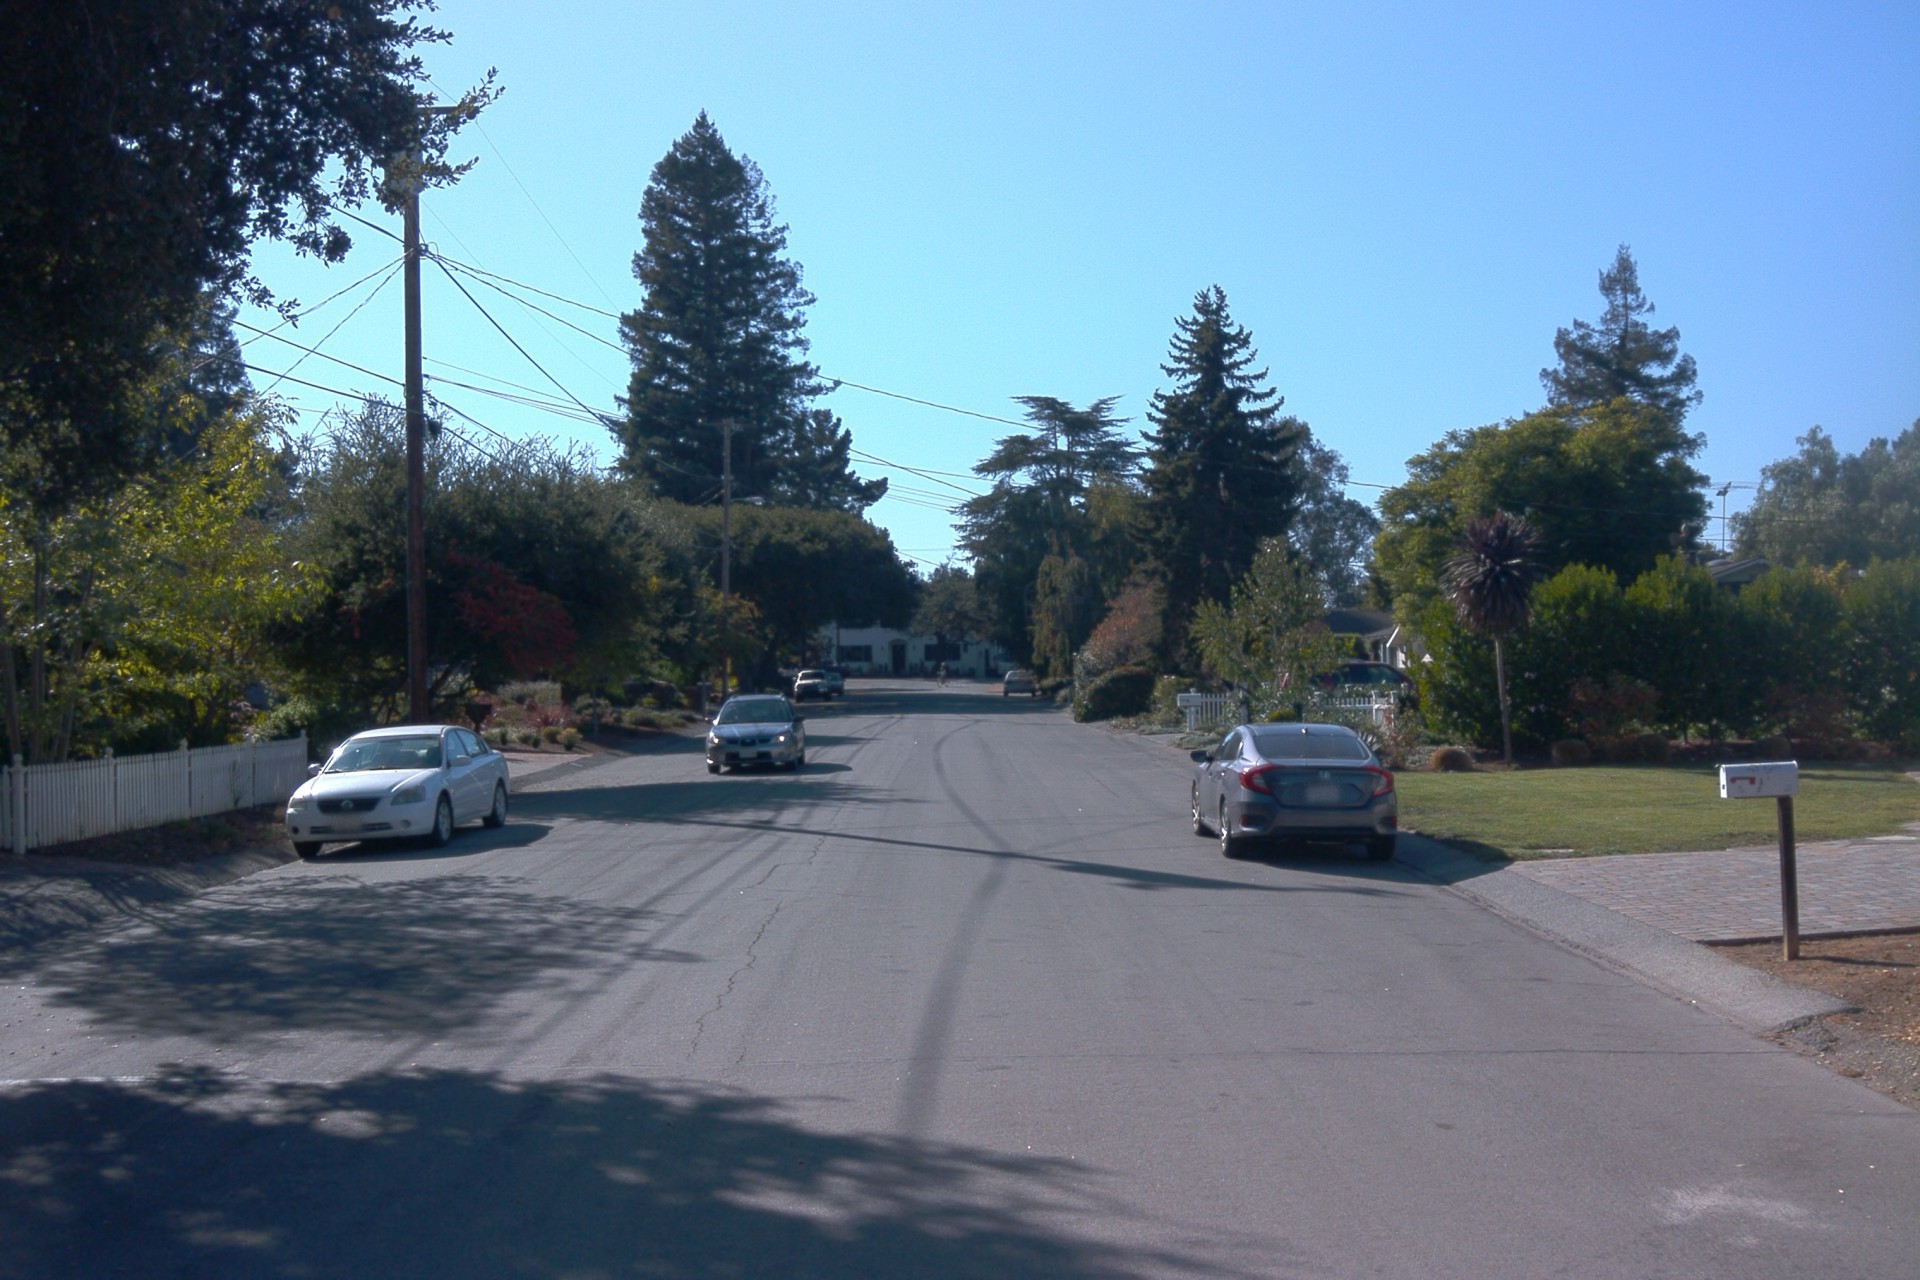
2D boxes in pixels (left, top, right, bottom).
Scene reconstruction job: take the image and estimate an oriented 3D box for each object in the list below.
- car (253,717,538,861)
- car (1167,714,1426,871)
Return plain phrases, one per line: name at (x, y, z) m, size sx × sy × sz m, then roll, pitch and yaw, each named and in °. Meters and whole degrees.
car at (-7.079, 1.826, 26.588) m, size 2.161 × 1.530 × 4.990 m, roll 0°, pitch -1°, yaw 2°
car at (3.623, 1.622, 23.222) m, size 2.130 × 1.460 × 4.738 m, roll 0°, pitch -1°, yaw 0°
